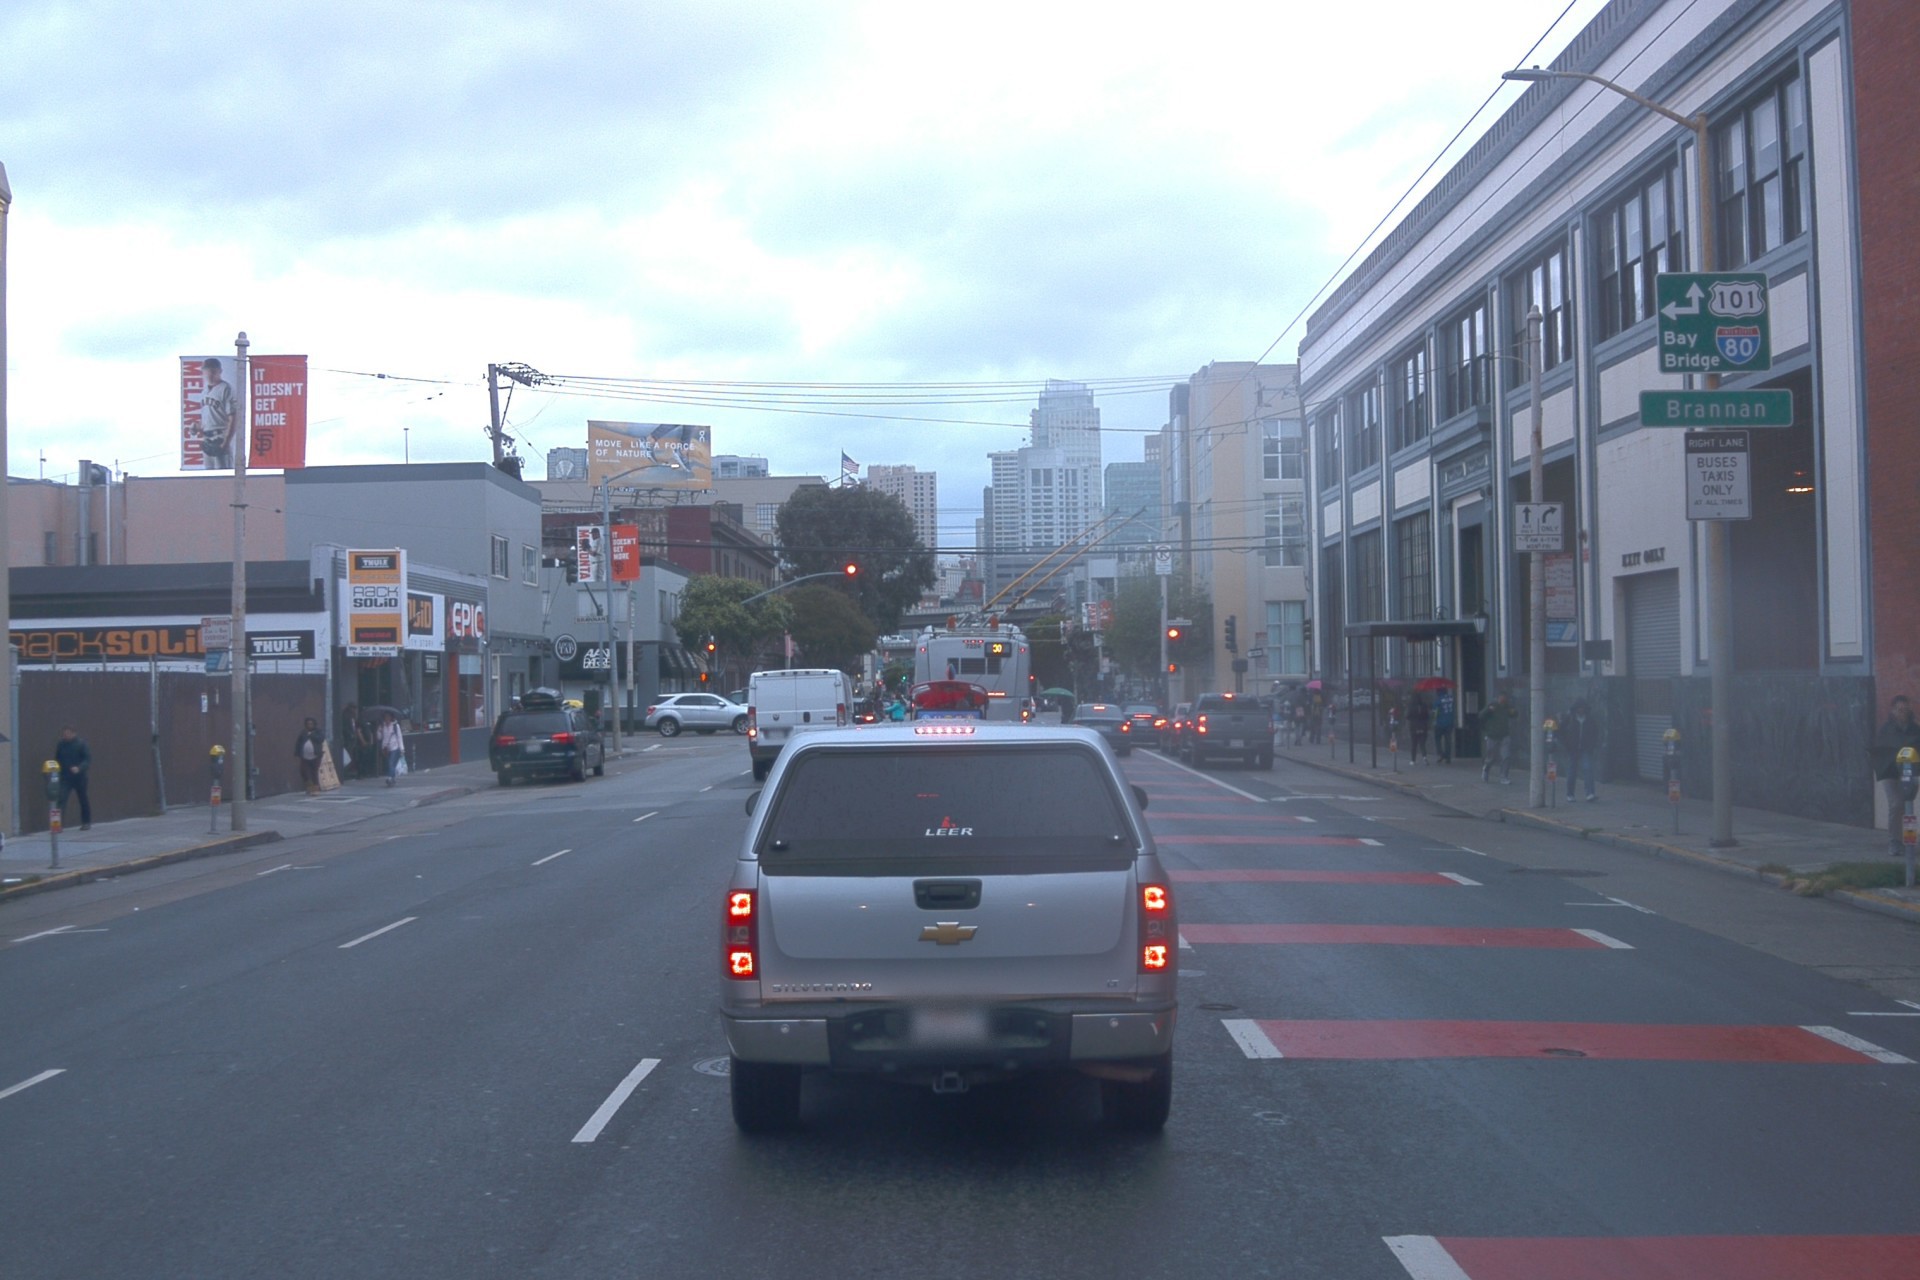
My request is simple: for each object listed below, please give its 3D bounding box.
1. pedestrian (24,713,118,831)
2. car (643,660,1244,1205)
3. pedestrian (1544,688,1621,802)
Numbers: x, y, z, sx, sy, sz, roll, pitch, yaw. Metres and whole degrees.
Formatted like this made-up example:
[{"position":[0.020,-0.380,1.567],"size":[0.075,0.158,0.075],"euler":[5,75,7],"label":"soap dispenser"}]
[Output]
[{"position":[-13.283,1.953,31.006],"size":[0.936,1.708,1.069],"euler":[0,-1,0],"label":"pedestrian"},{"position":[-0.078,1.222,10.884],"size":[2.437,2.200,4.924],"euler":[0,-1,0],"label":"car"},{"position":[9.784,1.632,32.608],"size":[0.899,1.750,1.035],"euler":[0,-1,1],"label":"pedestrian"}]
